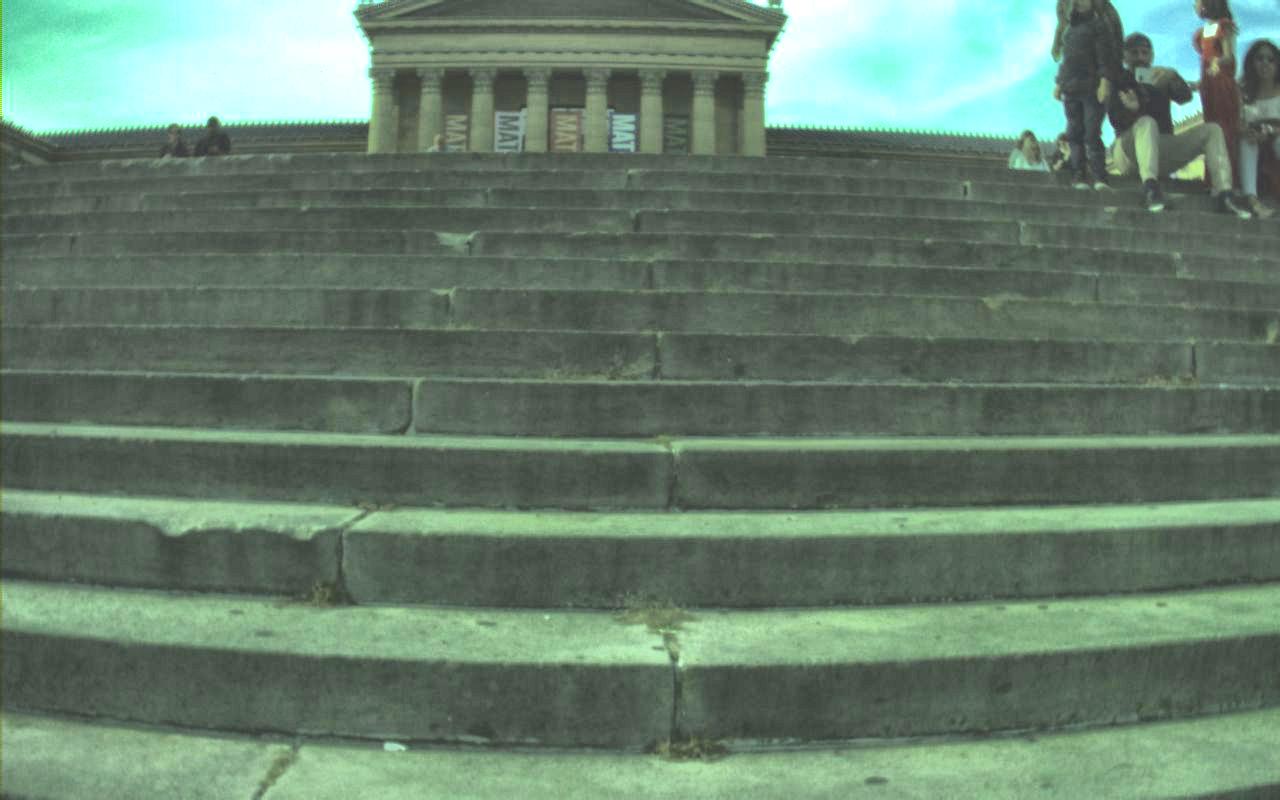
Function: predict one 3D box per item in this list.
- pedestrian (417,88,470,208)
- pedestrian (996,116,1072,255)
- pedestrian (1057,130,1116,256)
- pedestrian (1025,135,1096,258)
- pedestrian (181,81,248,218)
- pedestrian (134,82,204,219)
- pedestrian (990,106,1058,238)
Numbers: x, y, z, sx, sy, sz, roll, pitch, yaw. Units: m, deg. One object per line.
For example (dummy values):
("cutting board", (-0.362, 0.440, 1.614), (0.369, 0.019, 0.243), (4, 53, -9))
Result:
("pedestrian", (-3.125, -3.979, 19.616), (0.760, 1.821, 0.774), (0, 0, -6))
("pedestrian", (5.181, -2.785, 15.862), (0.716, 1.715, 0.724), (0, 0, -11))
("pedestrian", (6.385, -2.923, 16.992), (0.695, 1.724, 0.690), (1, 0, 31))
("pedestrian", (6.339, -3.024, 18.076), (0.758, 1.742, 0.754), (0, 0, -22))
("pedestrian", (-5.855, -3.402, 16.239), (0.680, 1.784, 0.680), (0, 0, -1))
("pedestrian", (-6.535, -3.402, 16.145), (0.647, 1.803, 0.647), (0, 0, 19))
("pedestrian", (5.486, -3.229, 17.221), (0.672, 1.779, 0.669), (0, 0, -22))
